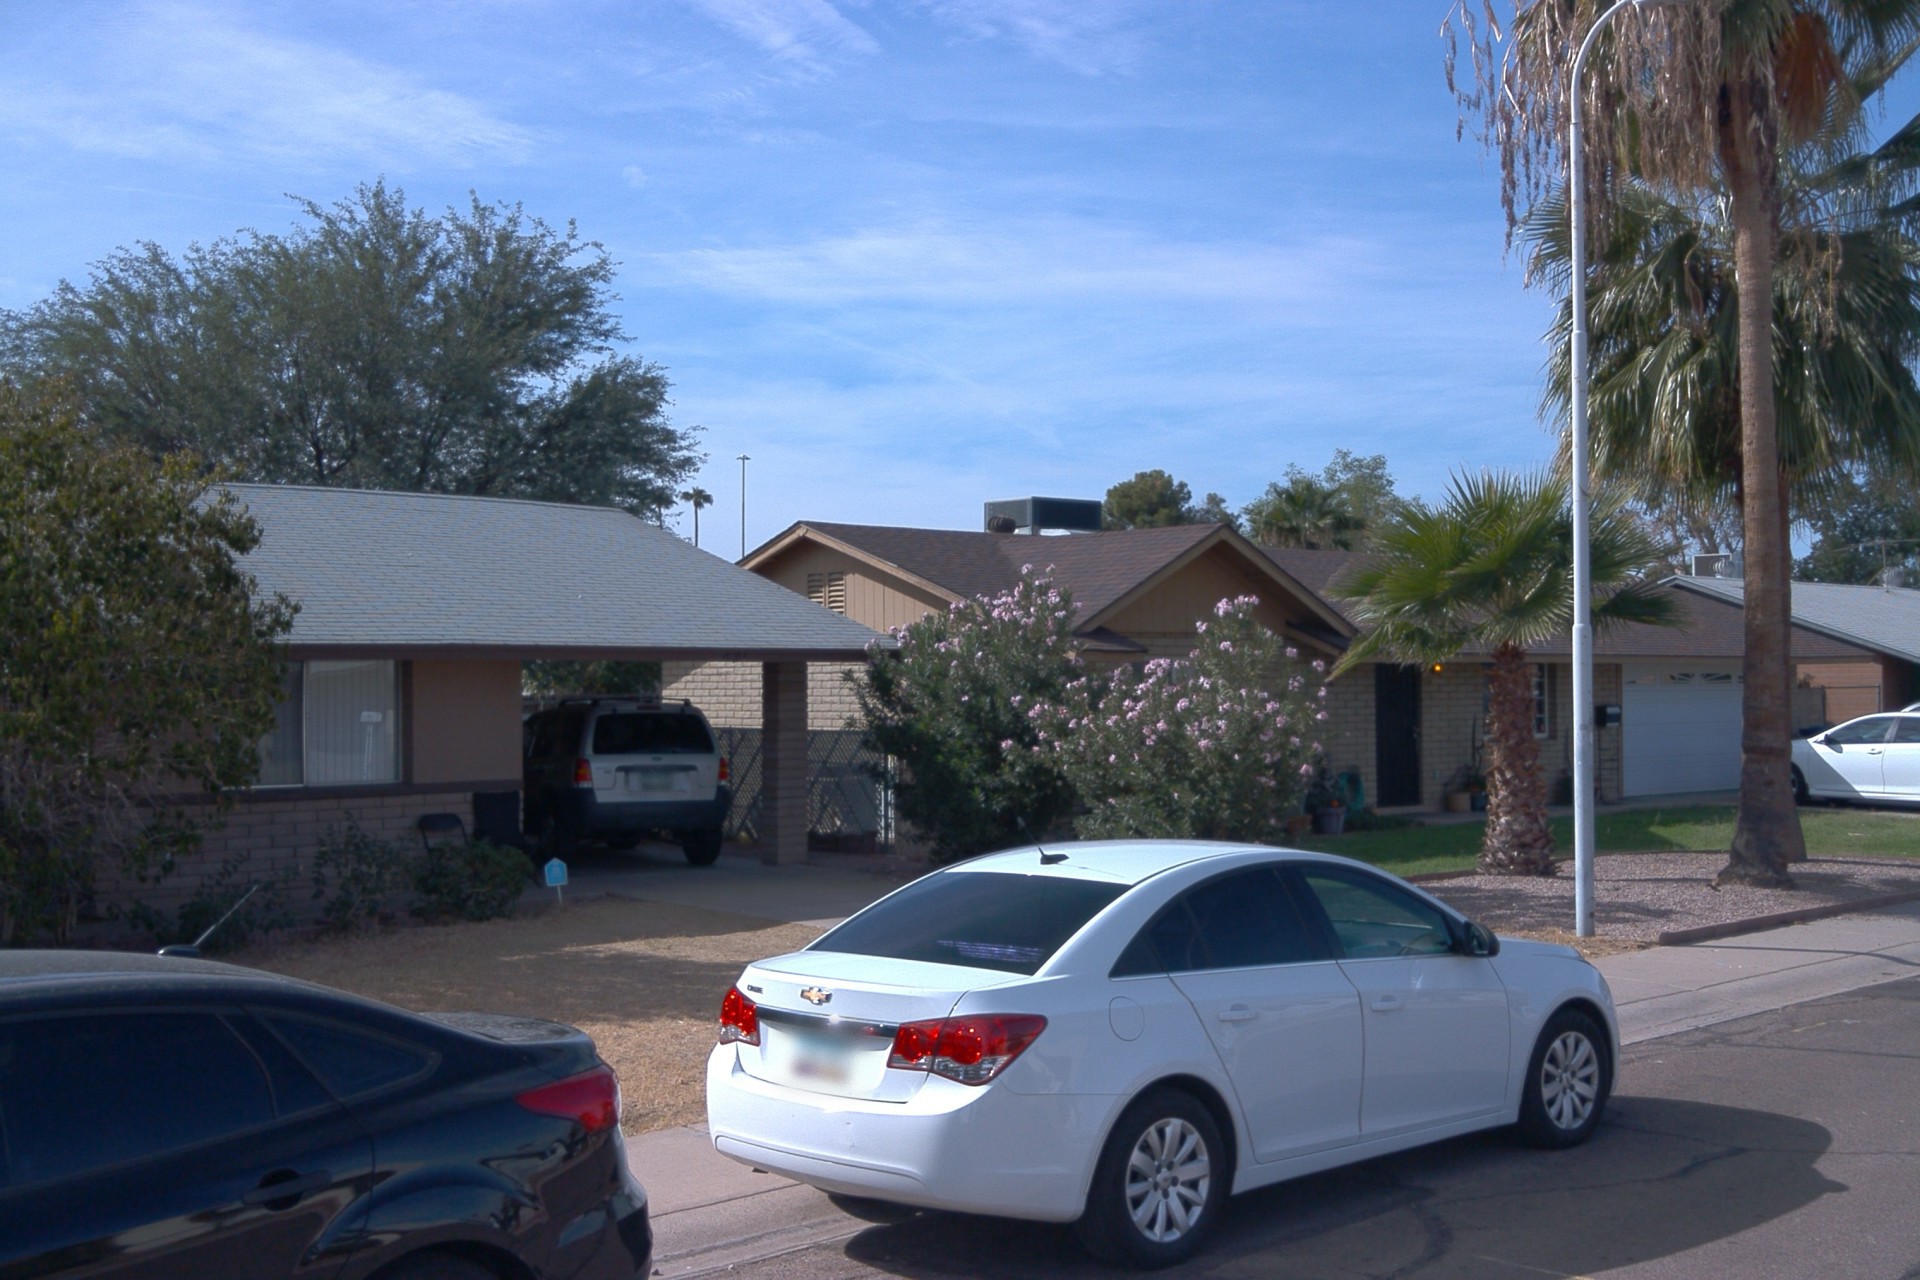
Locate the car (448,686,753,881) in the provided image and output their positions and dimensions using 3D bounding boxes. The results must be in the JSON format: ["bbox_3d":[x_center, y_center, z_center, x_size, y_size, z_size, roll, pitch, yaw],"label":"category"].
[{"bbox_3d":[-4.074,1.463,22.973,2.075,1.850,4.552,1,-1,-27],"label":"car"}]

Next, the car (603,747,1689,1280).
[{"bbox_3d":[1.019,1.438,9.018,4.670,1.770,2.061,1,-1,-43],"label":"car"}]
